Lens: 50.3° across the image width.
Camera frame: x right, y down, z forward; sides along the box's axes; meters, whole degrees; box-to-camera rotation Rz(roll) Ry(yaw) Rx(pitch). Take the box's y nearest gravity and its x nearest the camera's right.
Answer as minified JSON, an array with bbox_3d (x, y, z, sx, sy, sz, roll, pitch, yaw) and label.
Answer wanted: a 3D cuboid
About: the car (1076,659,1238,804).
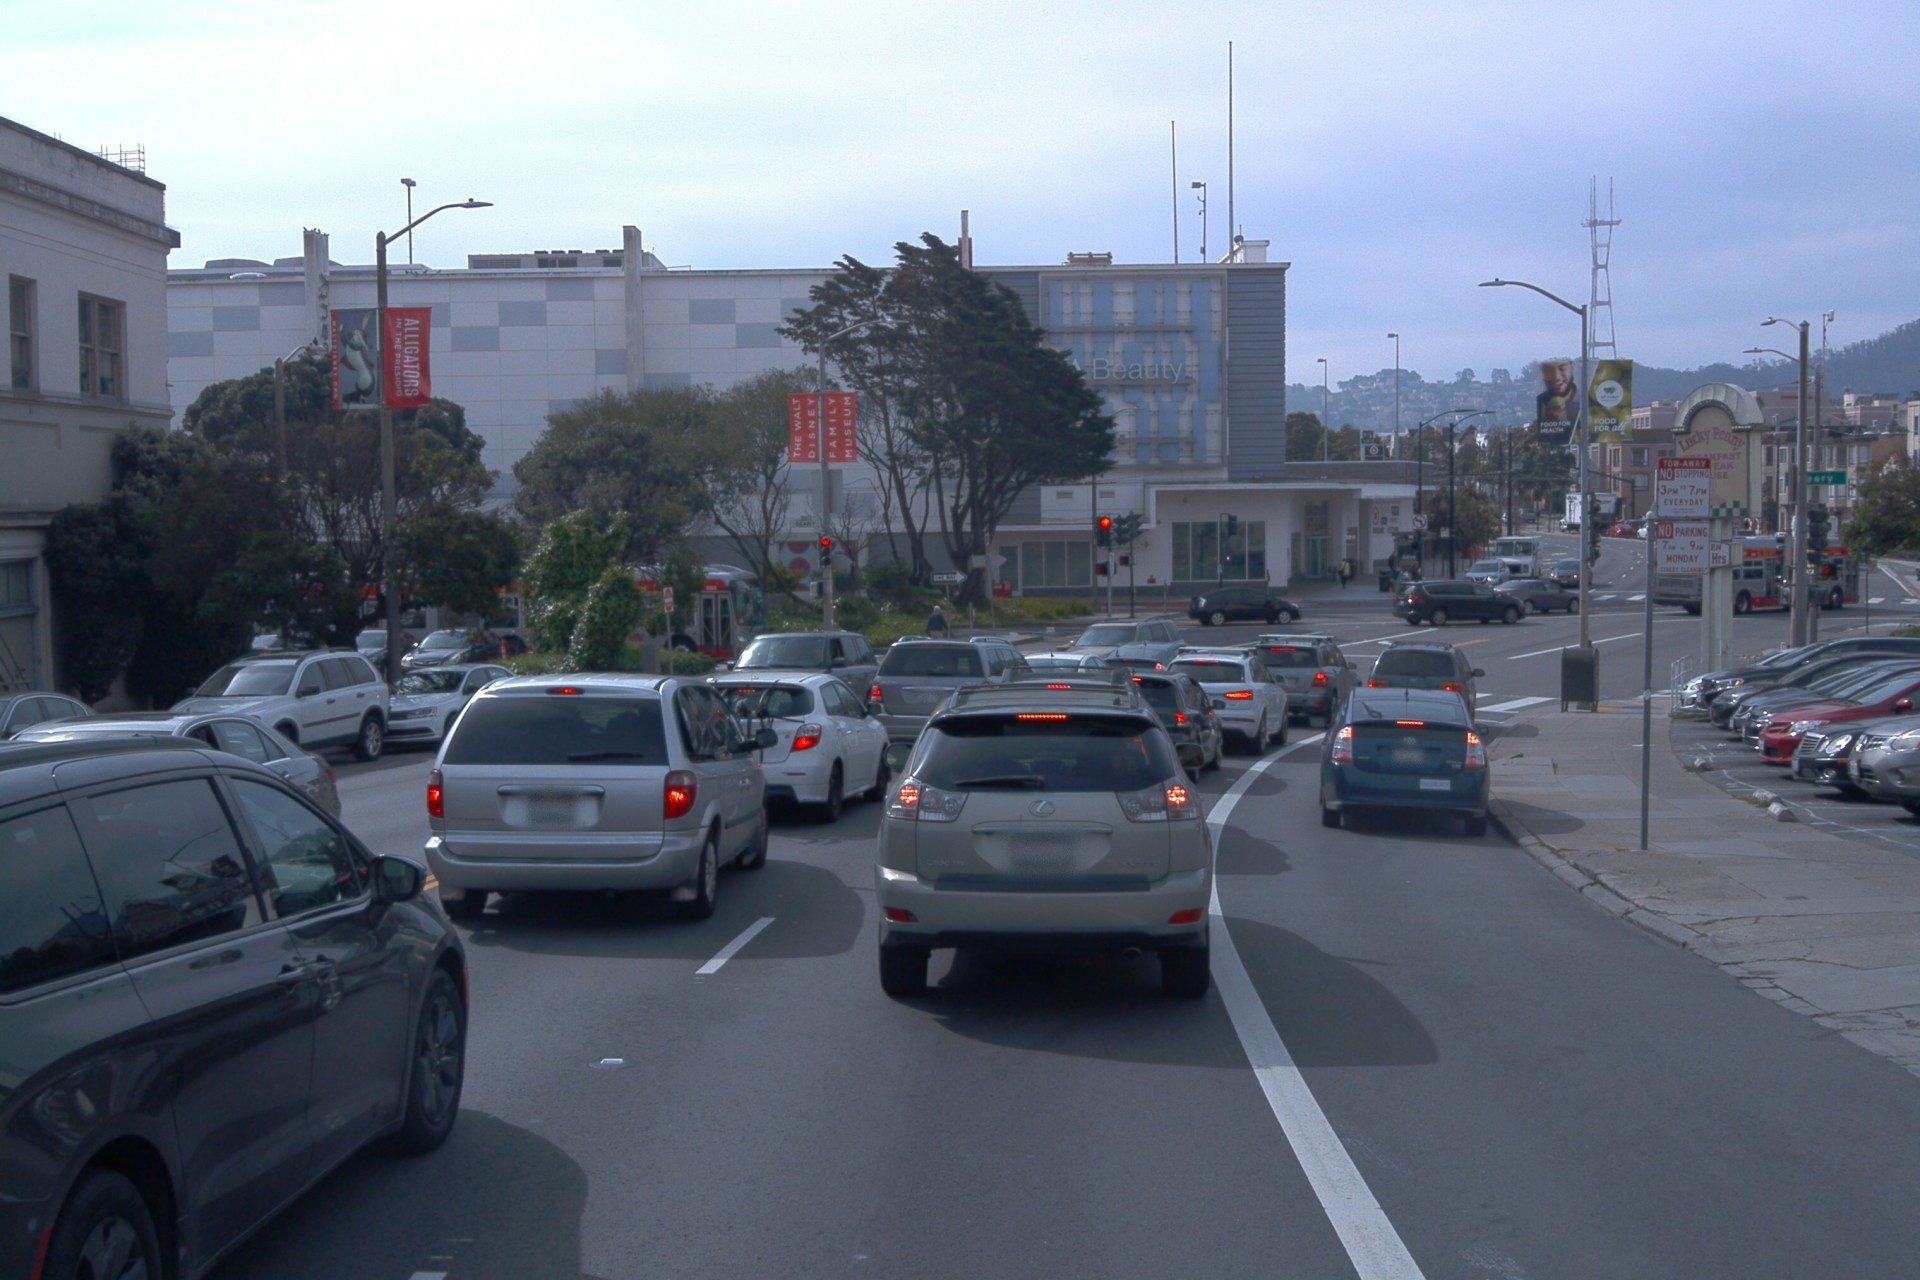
[{"bbox_3d":[2.769,1.177,28.024,1.526,1.780,3.939,1,0,16],"label":"car"}]

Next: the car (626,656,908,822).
[{"bbox_3d":[-1.947,0.977,22.043,1.982,1.530,4.306,1,0,10],"label":"car"}]

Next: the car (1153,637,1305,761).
[{"bbox_3d":[4.480,0.902,33.583,1.795,1.880,4.044,1,0,17],"label":"car"}]

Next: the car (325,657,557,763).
[{"bbox_3d":[-8.935,1.154,35.657,1.977,1.640,4.663,1,0,14],"label":"car"}]

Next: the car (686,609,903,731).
[{"bbox_3d":[-2.784,0.474,35.751,2.248,1.960,4.913,1,0,15],"label":"car"}]

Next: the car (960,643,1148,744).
[{"bbox_3d":[1.794,0.905,37.090,2.220,1.670,4.643,1,0,18],"label":"car"}]

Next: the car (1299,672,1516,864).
[{"bbox_3d":[4.918,1.303,22.746,2.113,1.790,4.646,1,0,11],"label":"car"}]

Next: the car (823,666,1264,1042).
[{"bbox_3d":[0.505,1.097,12.498,2.197,1.780,4.467,1,0,2],"label":"car"}]

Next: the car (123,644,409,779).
[{"bbox_3d":[-10.206,0.979,30.517,2.060,1.800,4.806,1,0,9],"label":"car"}]

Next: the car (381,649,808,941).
[{"bbox_3d":[-2.561,1.017,15.639,2.131,1.830,4.635,1,0,4],"label":"car"}]

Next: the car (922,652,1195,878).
[{"bbox_3d":[1.093,1.083,19.843,2.119,1.870,4.391,1,0,10],"label":"car"}]

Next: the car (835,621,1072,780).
[{"bbox_3d":[0.026,0.794,29.854,2.236,2.100,4.827,1,0,15],"label":"car"}]
